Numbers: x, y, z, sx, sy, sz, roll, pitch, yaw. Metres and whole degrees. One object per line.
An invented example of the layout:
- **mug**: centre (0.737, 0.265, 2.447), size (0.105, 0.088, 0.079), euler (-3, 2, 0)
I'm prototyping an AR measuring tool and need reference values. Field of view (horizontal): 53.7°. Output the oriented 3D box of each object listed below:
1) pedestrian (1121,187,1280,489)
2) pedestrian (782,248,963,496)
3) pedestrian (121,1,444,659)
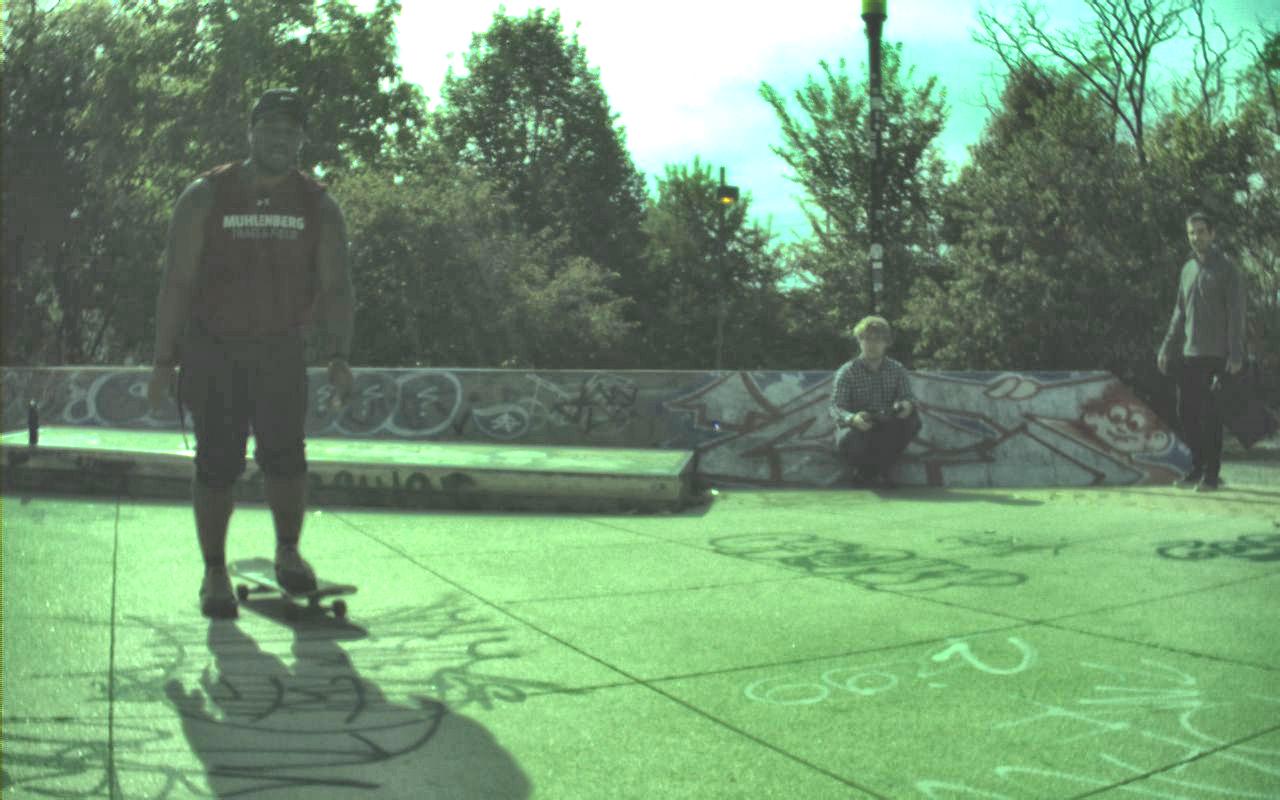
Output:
- **pedestrian**: centre (3.558, -0.359, 7.244), size (0.813, 1.768, 0.811), euler (0, 0, -23)
- **pedestrian**: centre (1.502, -0.177, 8.080), size (0.877, 1.499, 0.826), euler (0, 0, -21)
- **pedestrian**: centre (-1.150, -0.199, 3.655), size (0.839, 1.772, 0.864), euler (0, 0, -30)
